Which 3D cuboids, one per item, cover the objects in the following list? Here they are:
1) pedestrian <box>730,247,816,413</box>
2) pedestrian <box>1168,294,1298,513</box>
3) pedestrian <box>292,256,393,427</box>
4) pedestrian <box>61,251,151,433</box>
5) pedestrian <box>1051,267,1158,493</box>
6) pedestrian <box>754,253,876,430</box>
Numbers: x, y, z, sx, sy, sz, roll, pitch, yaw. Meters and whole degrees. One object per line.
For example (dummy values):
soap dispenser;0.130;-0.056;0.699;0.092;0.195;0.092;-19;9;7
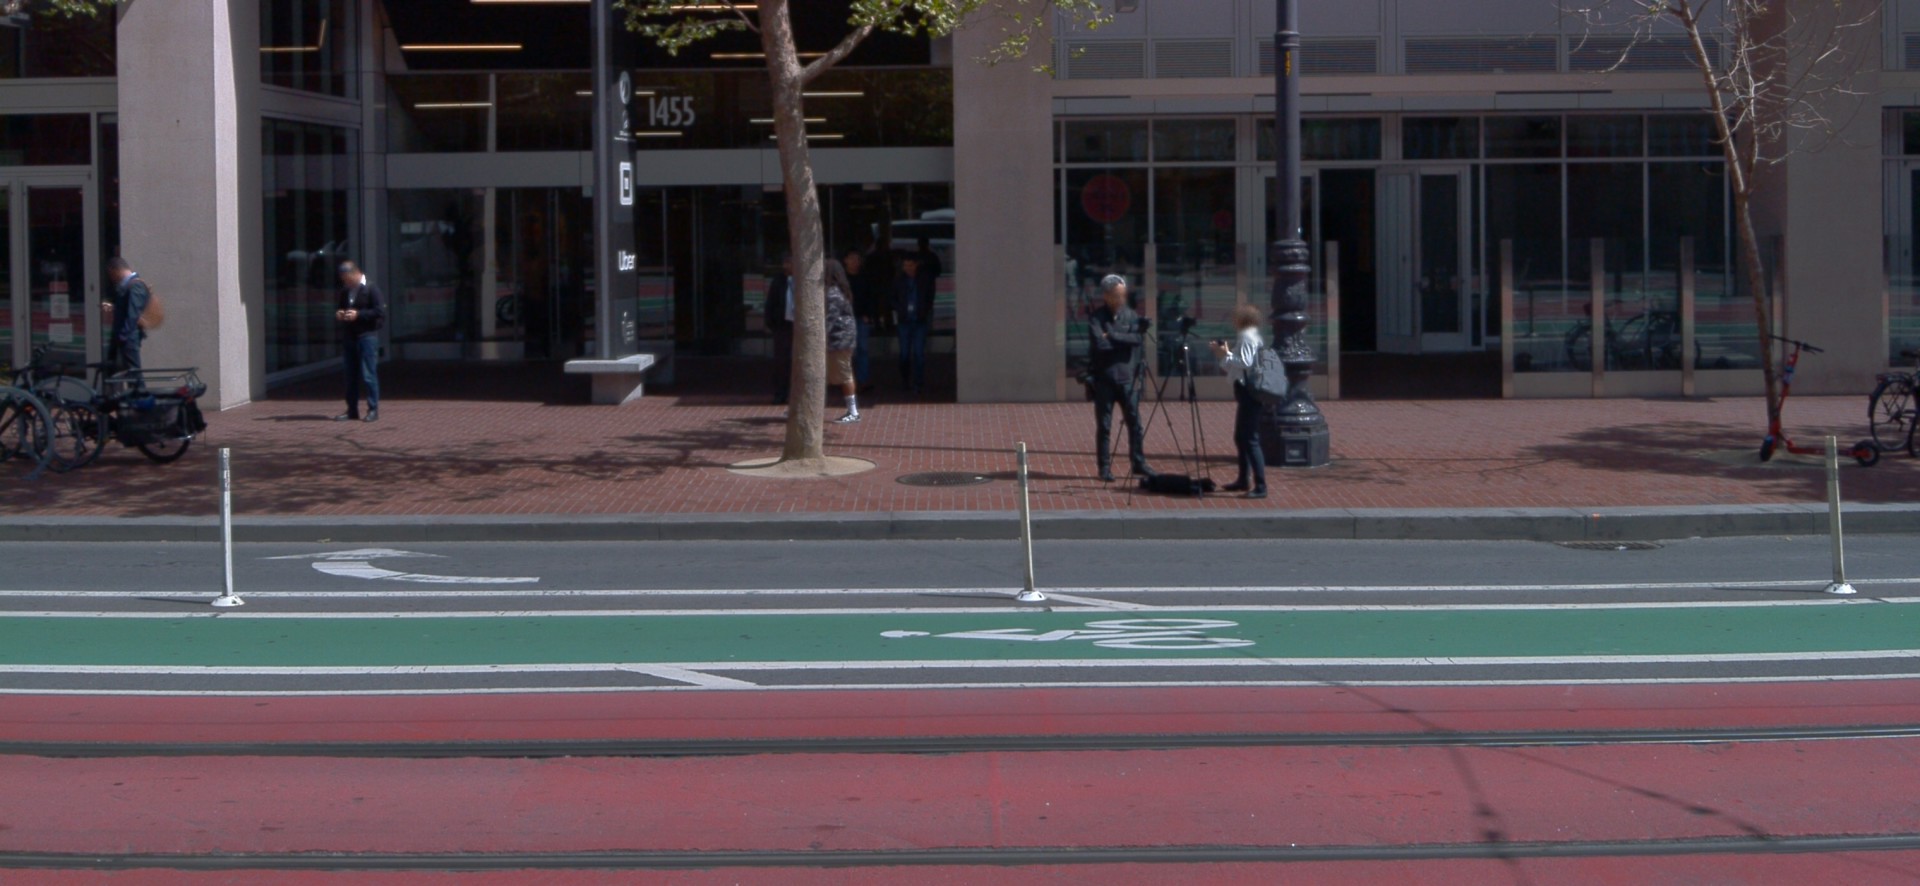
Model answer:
pedestrian;-2.153;-1.320;23.853;0.815;1.856;0.802;0;2;8
pedestrian;2.243;-0.353;16.992;0.817;1.706;0.673;1;3;42
pedestrian;-6.797;-1.139;22.770;0.740;1.816;0.739;1;2;34
pedestrian;-9.310;-1.127;22.527;0.692;1.916;0.716;-2;2;-41
pedestrian;1.244;-0.571;17.876;0.759;1.876;0.809;-1;2;-7
pedestrian;-1.562;-1.112;22.177;1.164;1.826;0.845;-1;2;-13
